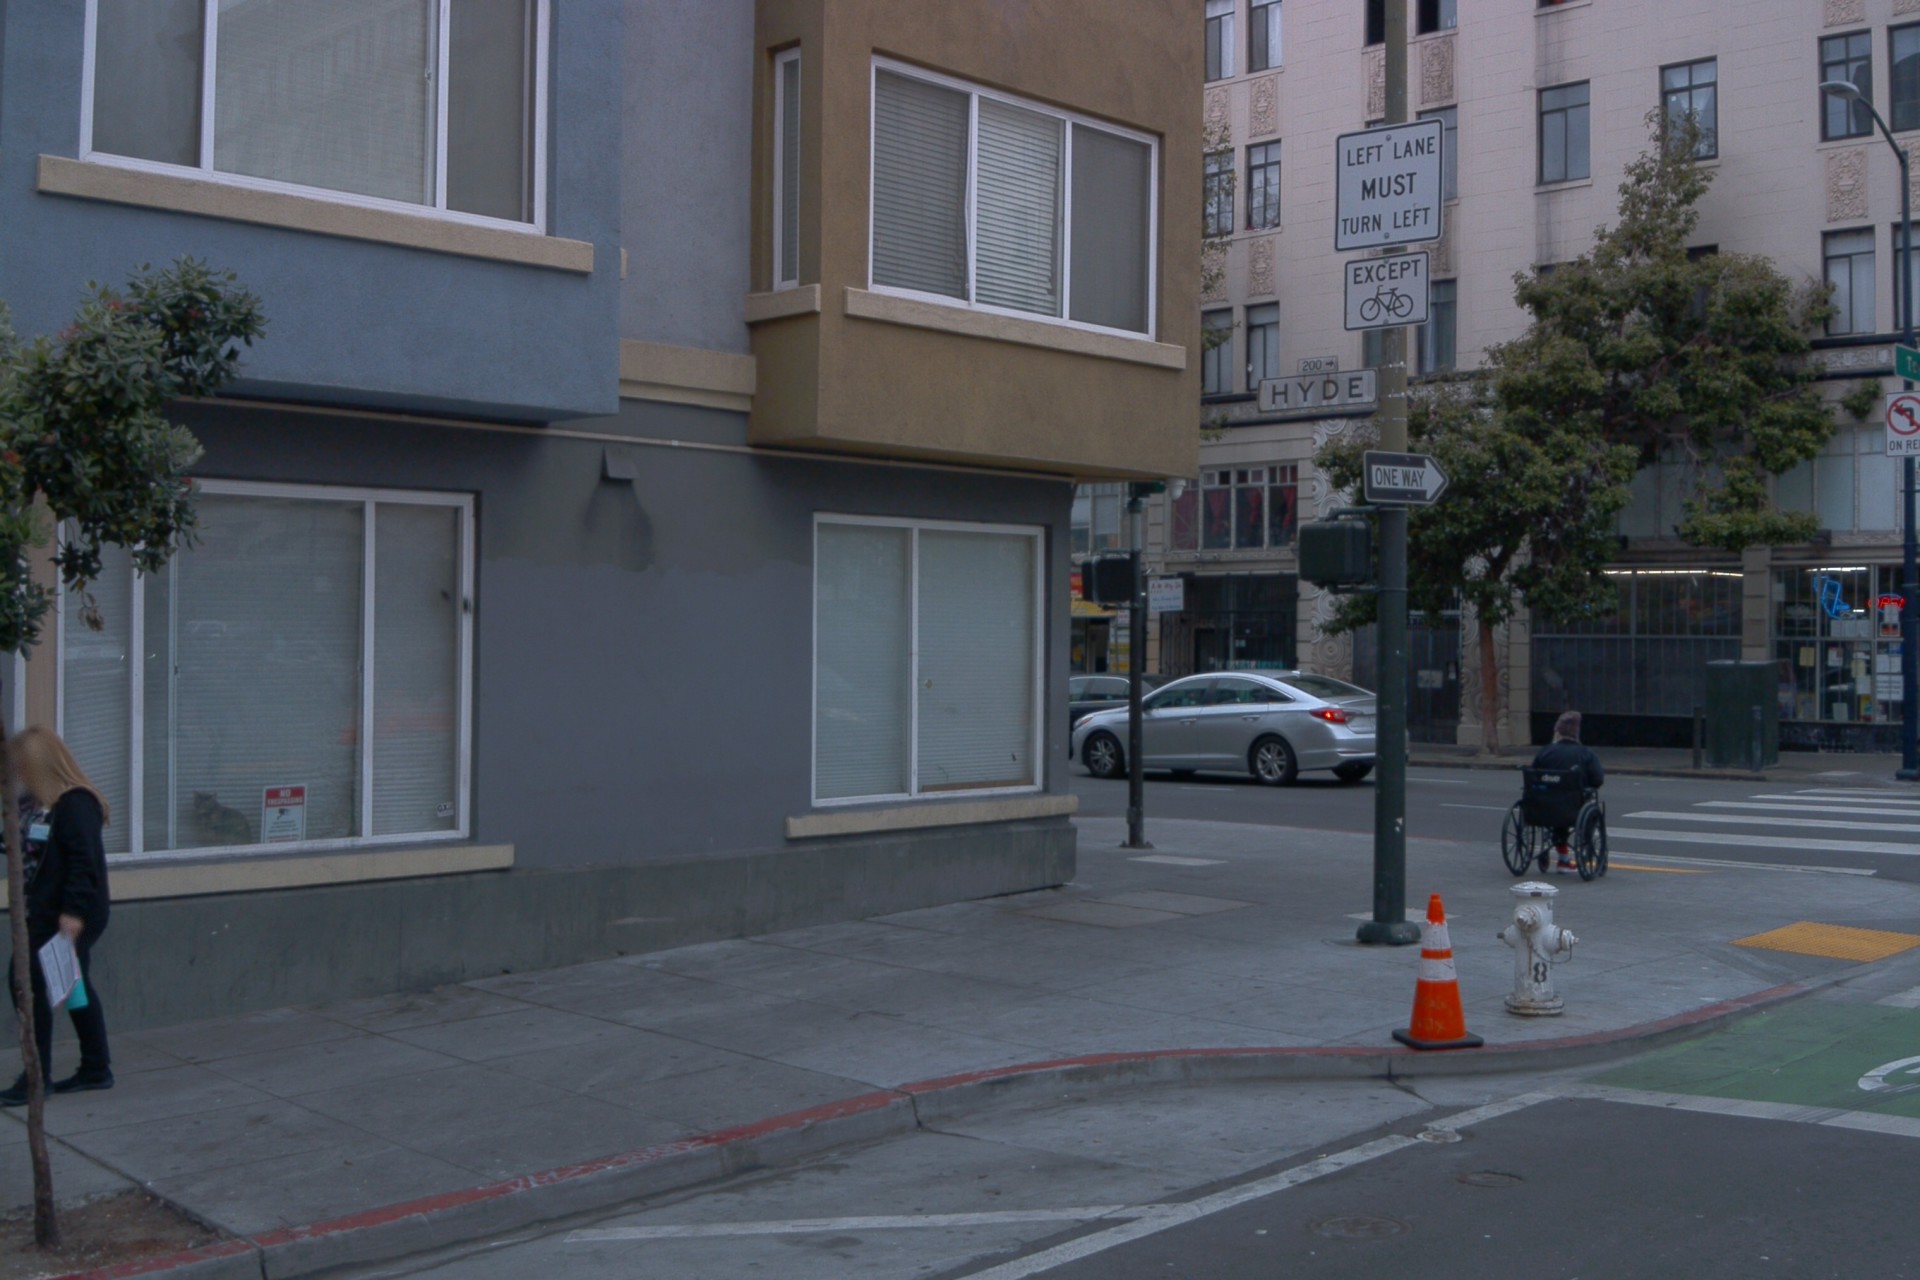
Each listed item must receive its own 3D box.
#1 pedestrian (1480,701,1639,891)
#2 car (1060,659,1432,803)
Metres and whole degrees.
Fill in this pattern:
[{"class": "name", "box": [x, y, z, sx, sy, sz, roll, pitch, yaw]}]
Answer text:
[{"class": "pedestrian", "box": [4.730, 1.200, 16.279, 0.883, 1.370, 1.026, 1, 1, 38]}, {"class": "car", "box": [3.663, 1.111, 27.065, 1.939, 1.600, 4.599, -1, 1, -44]}]
